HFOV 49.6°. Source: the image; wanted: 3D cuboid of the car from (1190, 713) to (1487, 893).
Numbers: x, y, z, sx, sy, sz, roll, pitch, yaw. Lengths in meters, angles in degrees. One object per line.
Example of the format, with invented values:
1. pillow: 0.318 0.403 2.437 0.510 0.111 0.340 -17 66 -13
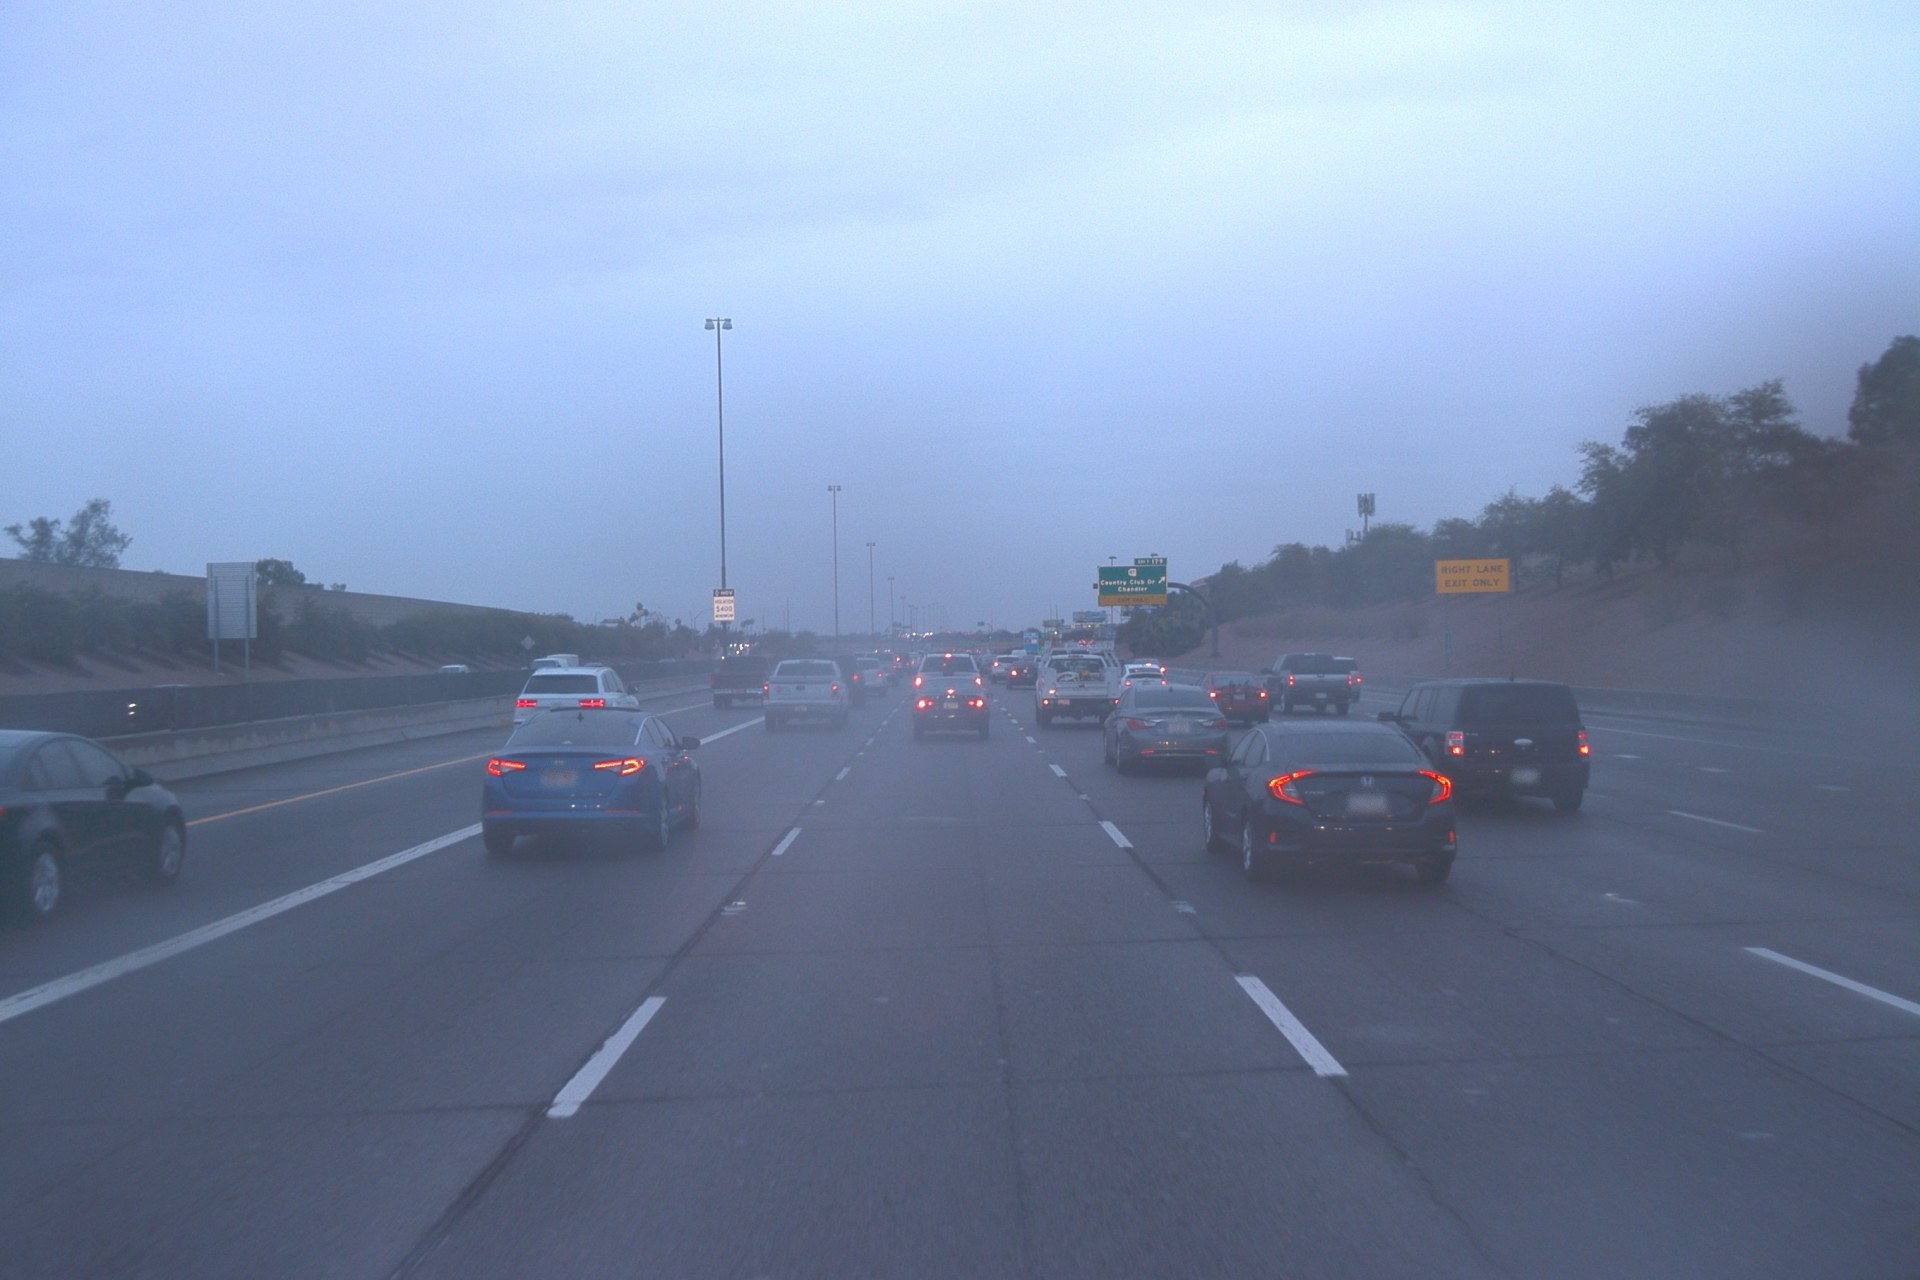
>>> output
1. car: 3.420 1.445 19.618 1.973 1.380 4.335 0 0 0

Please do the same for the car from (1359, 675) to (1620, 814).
1. car: 6.916 1.312 27.746 2.228 1.630 4.896 0 0 0

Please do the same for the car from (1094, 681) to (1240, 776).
1. car: 3.448 1.461 35.301 2.017 1.450 4.379 0 0 0

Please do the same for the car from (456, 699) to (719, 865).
1. car: -3.902 1.452 22.528 1.988 1.510 4.517 0 0 1
